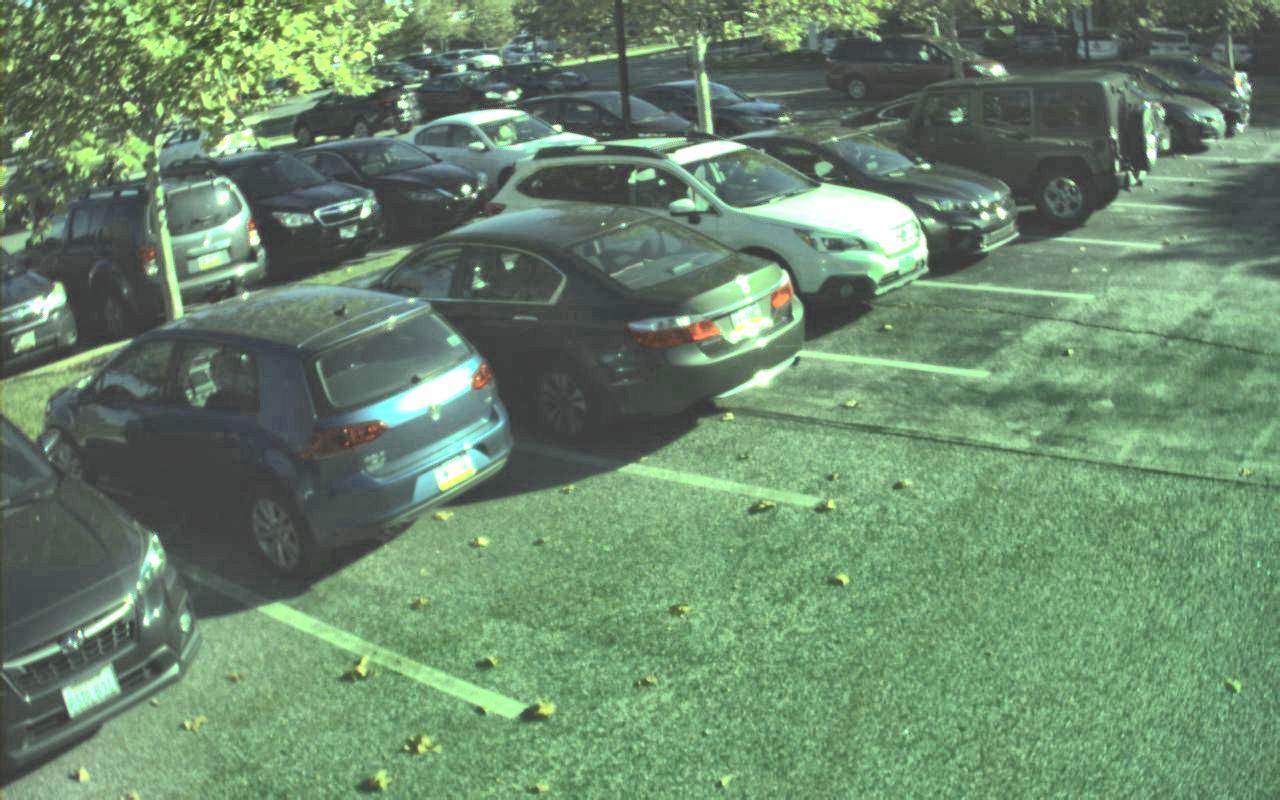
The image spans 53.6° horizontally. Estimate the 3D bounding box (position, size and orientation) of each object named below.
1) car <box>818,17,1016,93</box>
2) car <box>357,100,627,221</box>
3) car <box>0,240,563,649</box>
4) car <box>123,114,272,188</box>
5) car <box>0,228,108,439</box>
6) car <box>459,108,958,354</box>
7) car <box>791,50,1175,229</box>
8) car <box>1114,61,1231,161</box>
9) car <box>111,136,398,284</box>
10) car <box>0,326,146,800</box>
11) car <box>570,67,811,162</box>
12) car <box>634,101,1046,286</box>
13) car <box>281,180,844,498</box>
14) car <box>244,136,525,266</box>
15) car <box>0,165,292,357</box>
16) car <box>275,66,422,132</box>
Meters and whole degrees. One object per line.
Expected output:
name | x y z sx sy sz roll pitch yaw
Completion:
car | 7.397 -9.224 32.219 4.940 1.839 2.107 11 20 36
car | -2.672 -4.244 21.446 4.662 1.721 2.030 13 21 39
car | -2.745 0.013 8.264 4.181 1.618 1.904 11 20 36
car | -12.305 -6.824 32.401 4.611 1.709 2.013 11 20 35
car | -8.204 -0.924 13.023 4.434 1.607 1.968 11 20 35
car | 0.567 -1.867 12.362 4.692 1.764 2.017 13 21 38
car | 4.488 -3.501 15.649 4.724 1.865 2.068 11 20 35
car | 10.314 -5.591 21.948 1.931 1.594 4.372 8 19 29
car | -5.690 -2.829 17.182 4.488 1.628 1.979 11 20 35
car | -3.997 0.990 6.003 1.949 1.642 4.404 -8 18 -24
car | 0.965 -5.743 24.713 4.474 1.638 1.998 11 20 36
car | 2.238 -2.488 14.141 4.393 1.564 1.943 13 21 39
car | -0.806 -0.734 9.936 4.445 1.532 1.924 13 22 40
car | -4.122 -3.213 19.251 4.426 1.585 1.961 11 20 34
car | -6.626 -1.903 14.702 4.679 1.776 2.031 10 20 34
car | -8.737 -8.878 35.815 4.626 1.741 2.031 12 21 38
